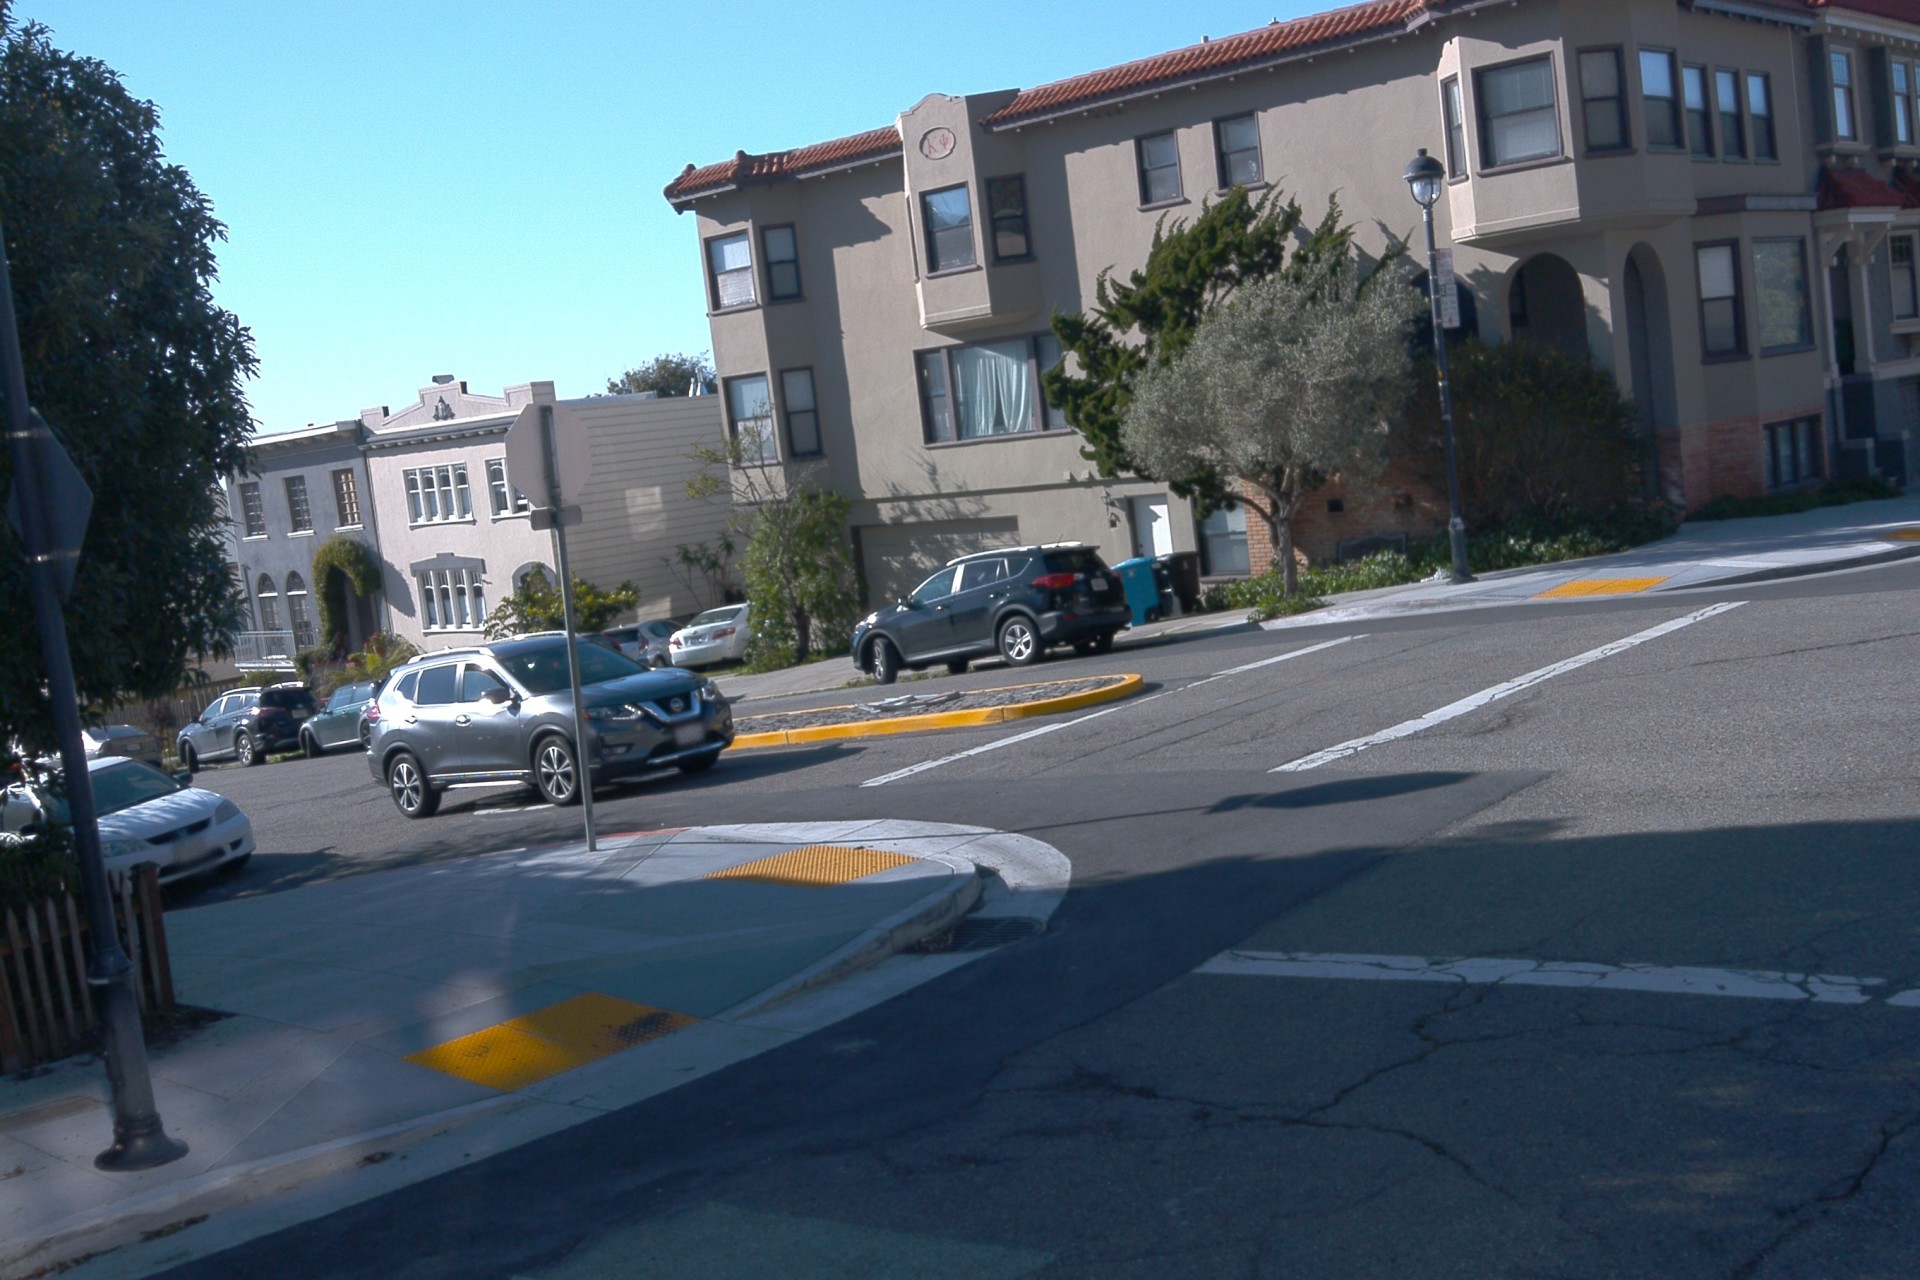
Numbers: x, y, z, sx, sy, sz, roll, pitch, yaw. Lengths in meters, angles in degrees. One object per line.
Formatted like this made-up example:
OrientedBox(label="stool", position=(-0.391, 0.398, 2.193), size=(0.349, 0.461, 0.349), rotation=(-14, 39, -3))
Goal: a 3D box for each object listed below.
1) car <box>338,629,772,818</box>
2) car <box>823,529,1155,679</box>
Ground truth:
OrientedBox(label="car", position=(-4.300, 0.772, 21.543), size=(4.680, 1.740, 2.086), rotation=(0, 0, 44))
OrientedBox(label="car", position=(0.358, -0.485, 30.216), size=(4.526, 2.020, 2.204), rotation=(0, 0, 43))
